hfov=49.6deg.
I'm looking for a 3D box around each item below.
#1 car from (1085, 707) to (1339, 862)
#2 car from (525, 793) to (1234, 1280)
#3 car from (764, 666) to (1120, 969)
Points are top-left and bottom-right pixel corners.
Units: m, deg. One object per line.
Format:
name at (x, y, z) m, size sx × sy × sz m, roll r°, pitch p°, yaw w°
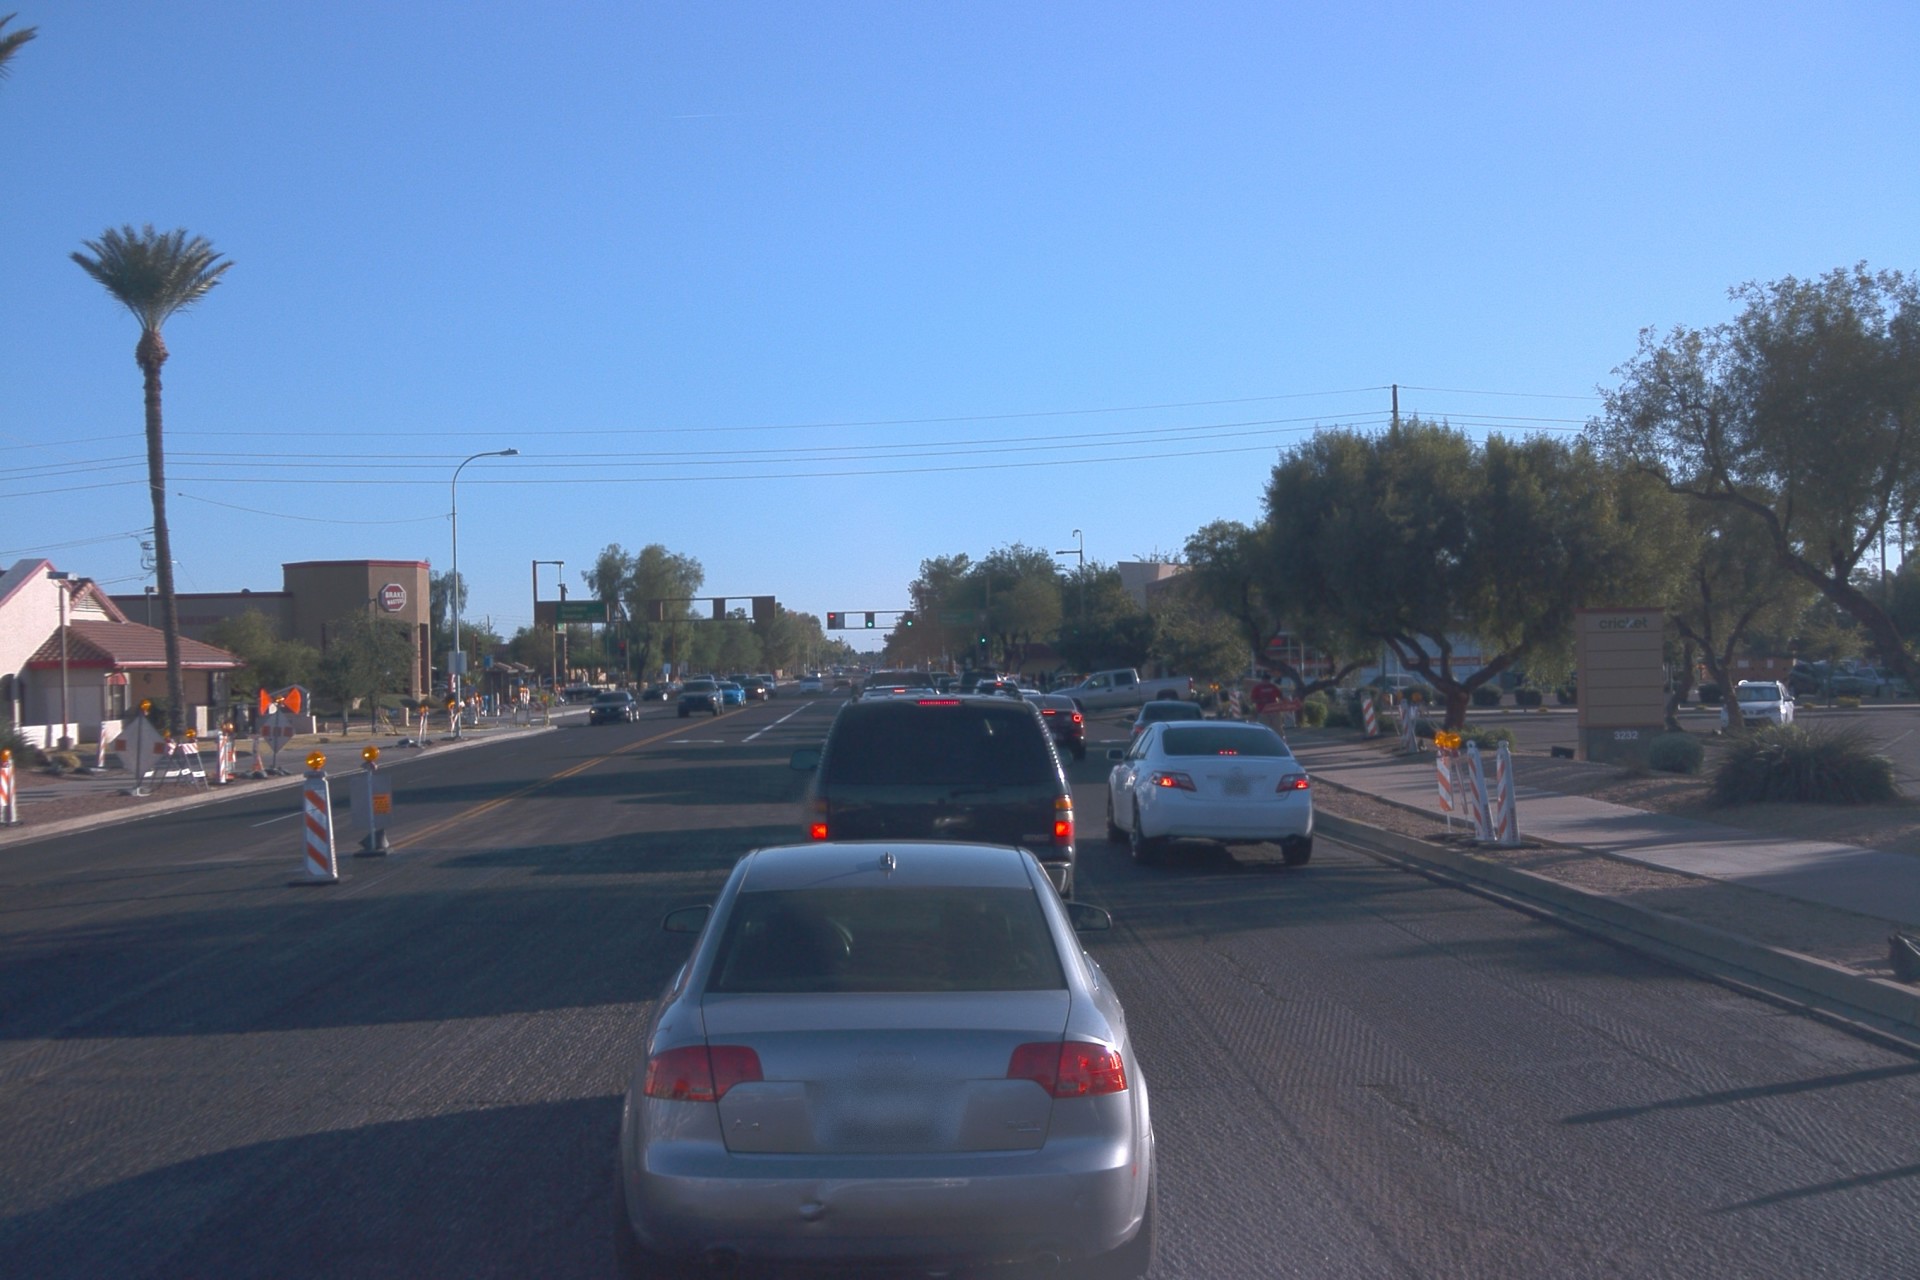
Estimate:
car at (2.651, 1.513, 23.061) m, size 2.124 × 1.470 × 4.694 m, roll 0°, pitch -1°, yaw -2°
car at (-0.277, 1.471, 8.172) m, size 2.033 × 1.480 × 4.403 m, roll 0°, pitch -1°, yaw -1°
car at (-0.212, 1.239, 16.569) m, size 2.405 × 2.040 × 5.063 m, roll 0°, pitch -1°, yaw -2°
